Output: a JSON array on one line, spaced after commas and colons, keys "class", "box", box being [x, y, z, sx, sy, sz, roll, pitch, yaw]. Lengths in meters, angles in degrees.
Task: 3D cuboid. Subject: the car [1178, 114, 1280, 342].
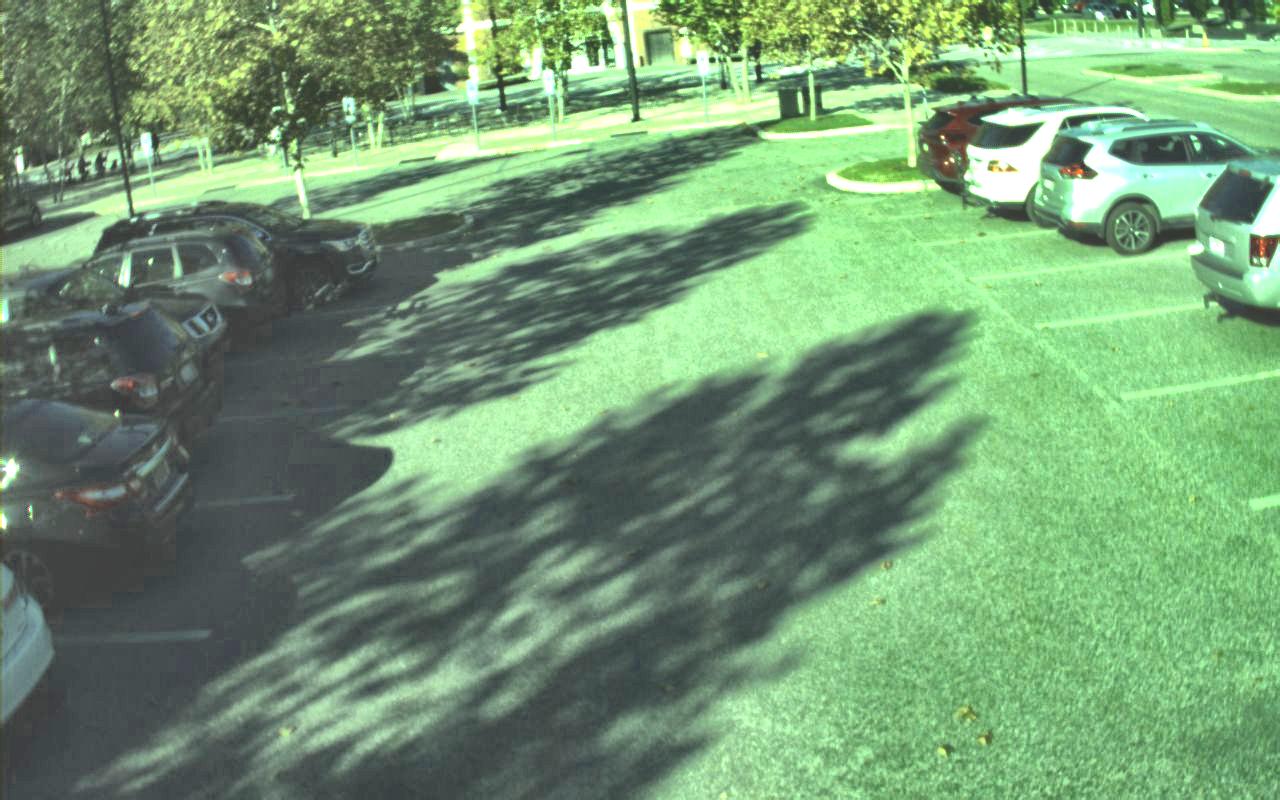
[{"class": "car", "box": [7.968, -1.737, 11.057, 4.655, 1.910, 2.056, 0, 16, 2]}]

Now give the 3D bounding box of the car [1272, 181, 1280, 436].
[{"class": "car", "box": [7.709, -0.815, 8.679, 4.473, 1.611, 1.961, -2, 16, -2]}]

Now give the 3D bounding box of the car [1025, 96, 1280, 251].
[{"class": "car", "box": [7.724, -3.164, 16.127, 4.484, 1.778, 1.980, -1, 16, 1]}]

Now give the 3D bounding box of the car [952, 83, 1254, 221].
[{"class": "car", "box": [7.368, -3.916, 18.647, 4.621, 1.872, 2.025, -2, 16, -4]}]

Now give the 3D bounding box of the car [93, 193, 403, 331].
[{"class": "car", "box": [-6.298, -2.205, 19.328, 4.684, 1.726, 2.039, 0, 16, 3]}]

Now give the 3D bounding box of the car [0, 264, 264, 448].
[{"class": "car", "box": [-7.043, -0.628, 14.270, 4.440, 1.663, 1.997, 2, 17, 12]}]

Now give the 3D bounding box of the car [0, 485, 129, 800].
[{"class": "car", "box": [-5.623, 1.726, 6.396, 4.338, 1.564, 1.929, 0, 16, 5]}]

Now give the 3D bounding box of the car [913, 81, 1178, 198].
[{"class": "car", "box": [7.221, -4.638, 21.280, 4.515, 1.789, 1.996, -1, 16, 0]}]

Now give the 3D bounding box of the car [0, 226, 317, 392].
[{"class": "car", "box": [-6.830, -1.269, 16.543, 4.437, 1.690, 1.984, -3, 16, -7]}]

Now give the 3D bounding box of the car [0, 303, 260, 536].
[{"class": "car", "box": [-6.187, 0.139, 11.402, 4.402, 1.670, 1.973, 0, 16, 4]}]

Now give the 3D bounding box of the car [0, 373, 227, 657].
[{"class": "car", "box": [-5.625, 0.909, 8.845, 4.329, 1.568, 1.922, -2, 16, -3]}]
